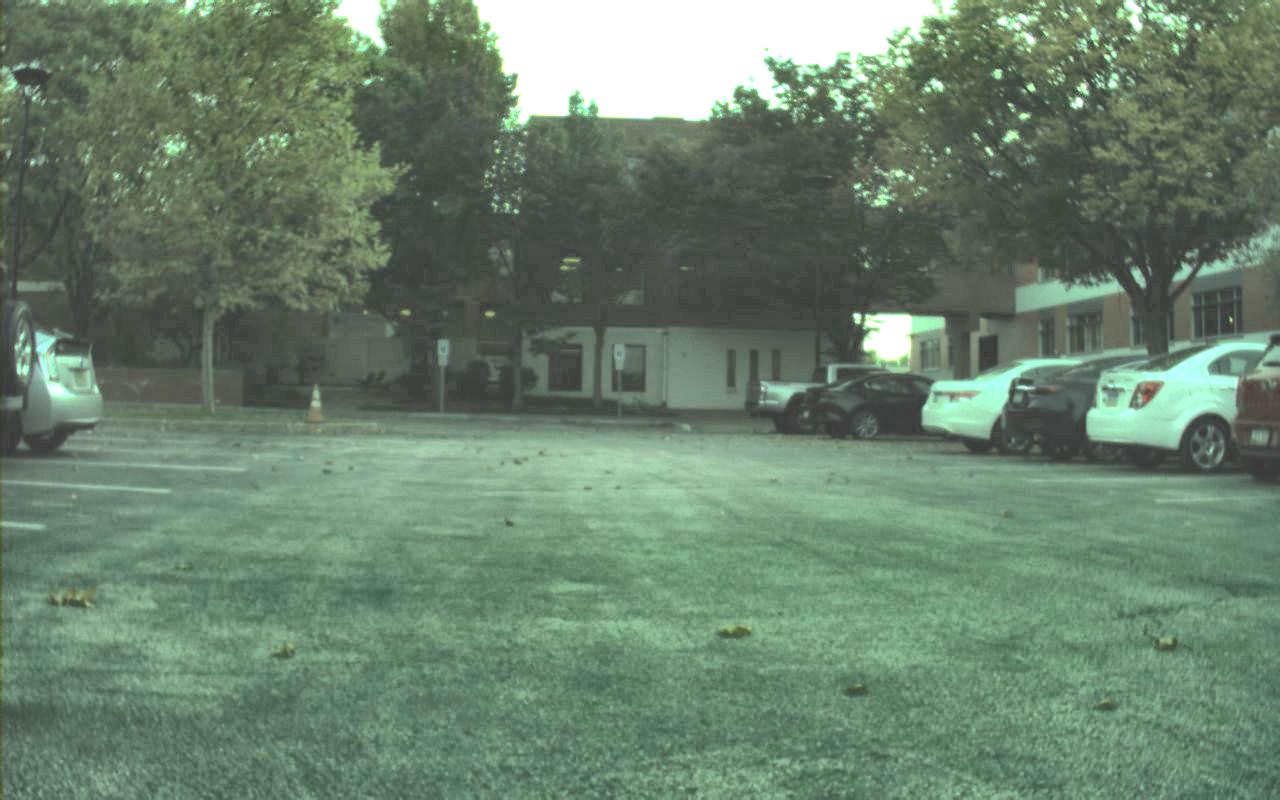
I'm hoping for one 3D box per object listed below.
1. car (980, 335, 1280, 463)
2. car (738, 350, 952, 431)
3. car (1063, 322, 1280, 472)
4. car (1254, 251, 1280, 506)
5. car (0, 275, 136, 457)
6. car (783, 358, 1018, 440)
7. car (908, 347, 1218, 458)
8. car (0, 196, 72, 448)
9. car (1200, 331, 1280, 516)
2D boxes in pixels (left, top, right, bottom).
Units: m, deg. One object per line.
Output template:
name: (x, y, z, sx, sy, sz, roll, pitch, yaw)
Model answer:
car: (6.939, -0.010, 16.049, 4.417, 1.571, 1.901, 0, 1, -6)
car: (5.096, -0.241, 31.274, 5.010, 1.917, 2.098, 0, 1, -7)
car: (7.284, -0.024, 13.592, 4.361, 1.585, 1.894, 0, 1, -5)
car: (7.265, -0.122, 8.175, 4.672, 1.687, 1.998, 0, 1, -5)
car: (-7.695, -0.329, 11.489, 4.575, 1.701, 2.008, 0, 1, -6)
car: (5.495, -0.036, 26.192, 4.598, 1.628, 1.987, 0, 1, -12)
car: (6.502, 0.035, 18.515, 4.577, 1.576, 1.954, 0, 1, -2)
car: (-7.324, -0.547, 8.933, 4.677, 1.798, 2.027, 0, 1, -9)
car: (7.935, 0.230, 10.897, 4.406, 1.628, 1.949, 0, 1, -5)
